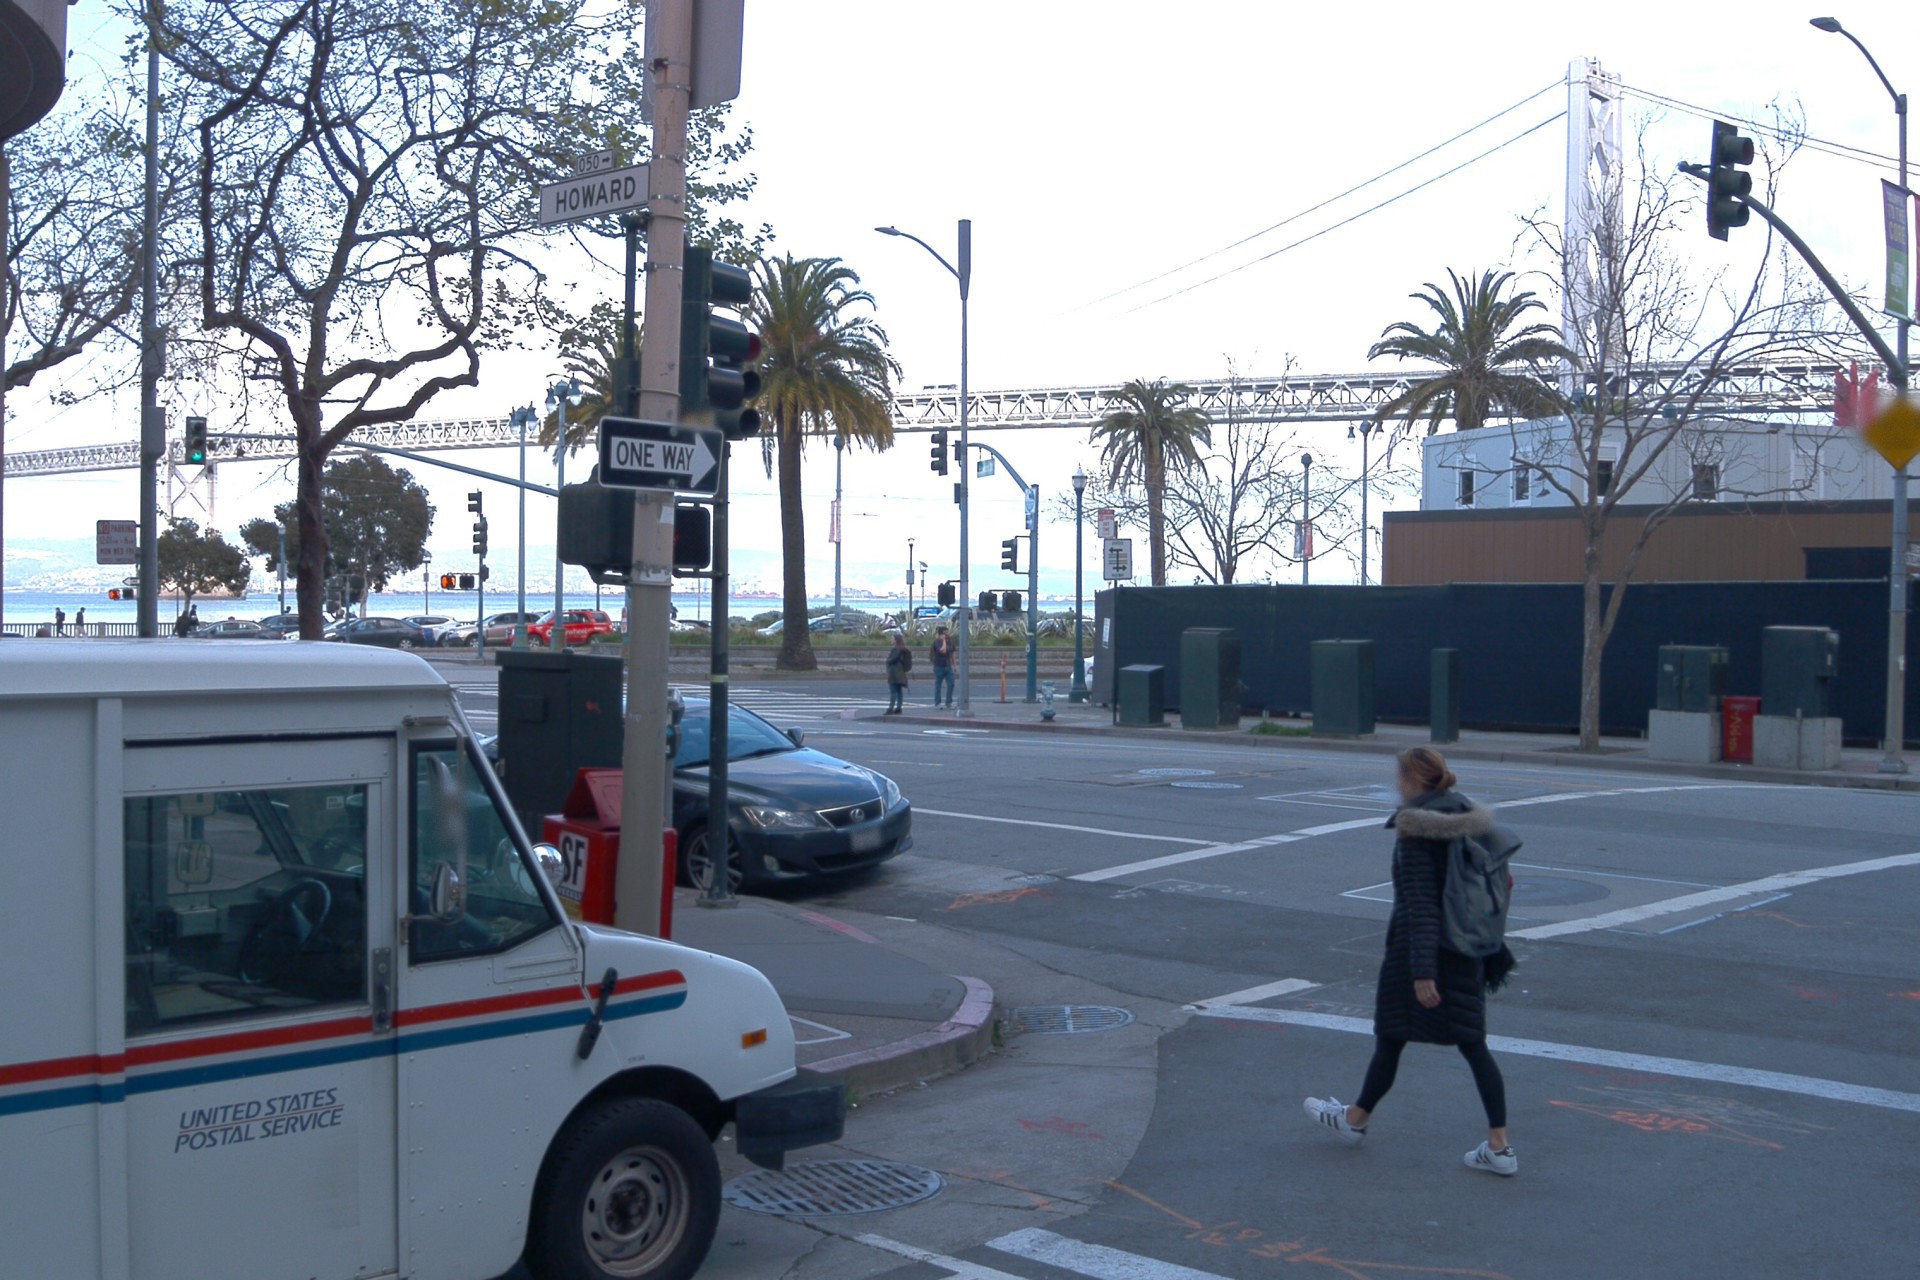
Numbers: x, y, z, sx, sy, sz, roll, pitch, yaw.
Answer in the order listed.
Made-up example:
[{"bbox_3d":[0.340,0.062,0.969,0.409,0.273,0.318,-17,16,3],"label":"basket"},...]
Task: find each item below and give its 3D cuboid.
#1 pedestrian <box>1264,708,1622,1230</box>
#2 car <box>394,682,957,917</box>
[{"bbox_3d":[1.877,1.205,8.054,0.805,1.810,1.089,-1,1,-41],"label":"pedestrian"},{"bbox_3d":[-2.483,1.191,17.120,4.756,1.510,2.075,1,1,42],"label":"car"}]
